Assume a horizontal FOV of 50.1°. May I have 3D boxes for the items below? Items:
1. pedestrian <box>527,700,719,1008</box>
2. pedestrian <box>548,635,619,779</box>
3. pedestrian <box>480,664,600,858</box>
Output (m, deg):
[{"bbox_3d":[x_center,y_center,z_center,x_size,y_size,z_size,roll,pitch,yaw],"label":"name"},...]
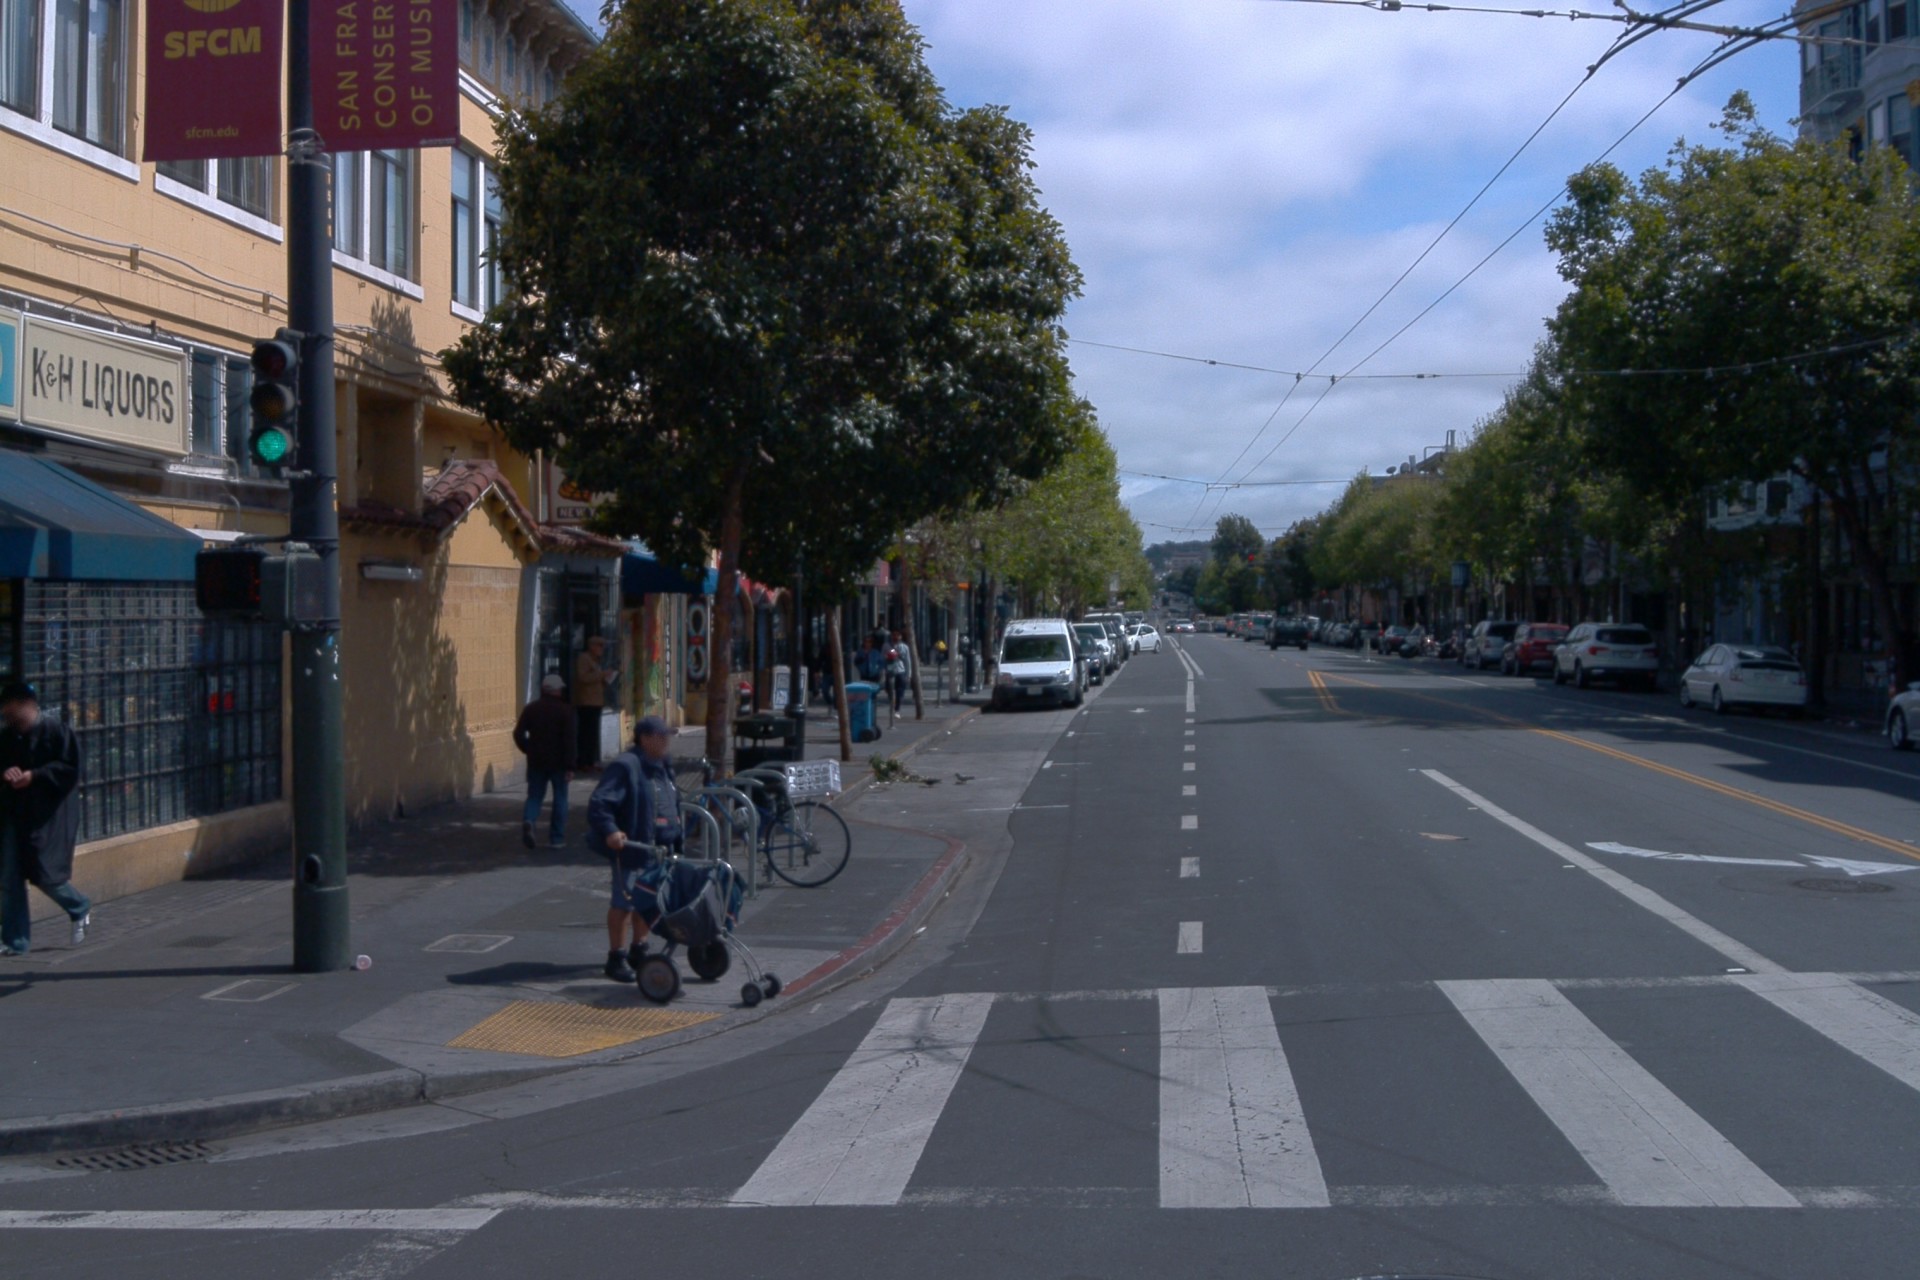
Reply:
[{"bbox_3d":[-2.105,1.295,12.851,0.865,1.790,0.828,0,0,-42],"label":"pedestrian"},{"bbox_3d":[-5.011,0.879,27.384,0.778,1.890,0.821,0,0,1],"label":"pedestrian"},{"bbox_3d":[-3.887,1.096,19.081,0.799,1.730,1.080,0,0,6],"label":"pedestrian"}]
